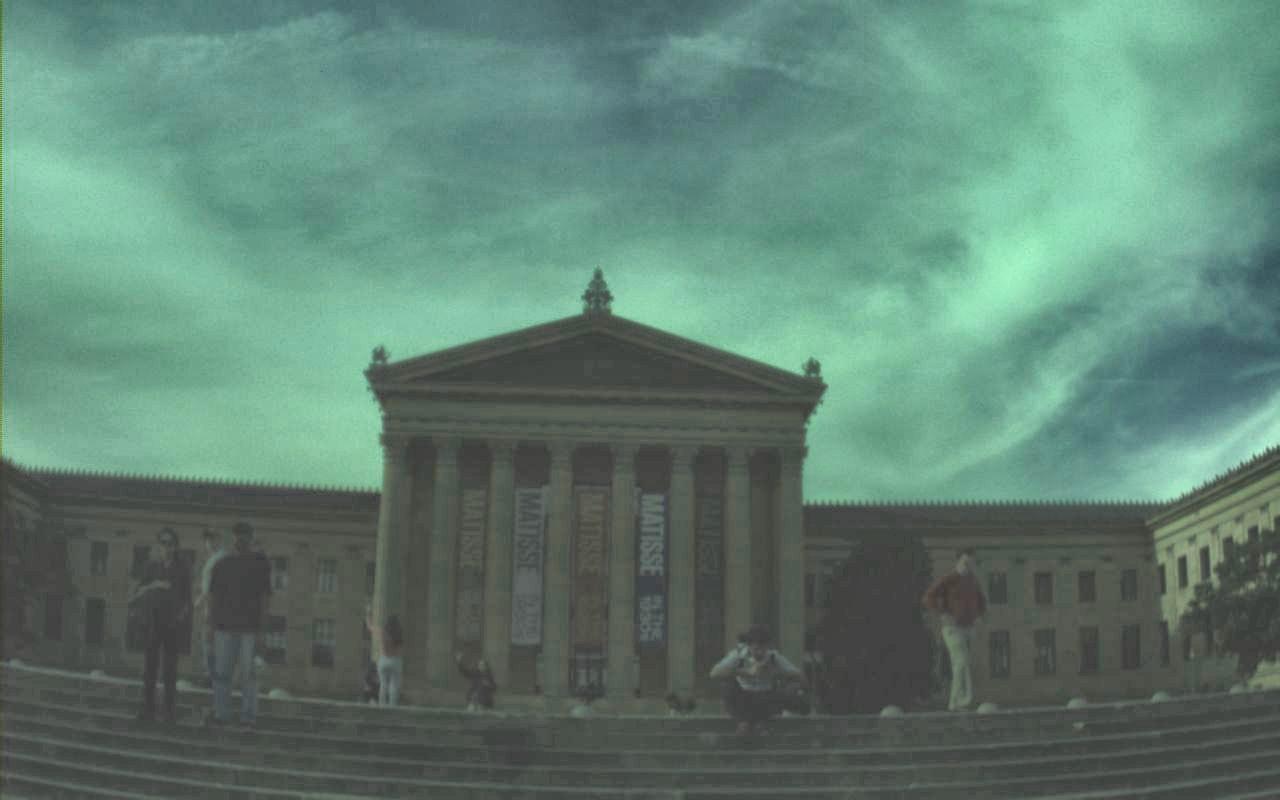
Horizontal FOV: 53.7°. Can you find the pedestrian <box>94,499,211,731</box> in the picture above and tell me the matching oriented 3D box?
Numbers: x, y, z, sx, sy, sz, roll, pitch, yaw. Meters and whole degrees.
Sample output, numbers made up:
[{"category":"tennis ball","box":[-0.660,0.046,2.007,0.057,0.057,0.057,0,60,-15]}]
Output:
[{"category":"pedestrian","box":[-4.022,1.774,9.531,0.748,1.803,0.739,0,0,-7]}]

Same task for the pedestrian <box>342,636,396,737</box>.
[{"category":"pedestrian","box":[-4.940,5.249,21.931,0.723,1.701,0.721,0,0,10]}]

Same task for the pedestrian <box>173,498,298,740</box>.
[{"category":"pedestrian","box":[-3.260,1.761,9.545,0.776,1.838,0.764,0,0,-2]}]

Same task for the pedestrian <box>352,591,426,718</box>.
[{"category":"pedestrian","box":[-3.831,3.883,18.475,0.790,1.764,0.828,0,0,-42]}]

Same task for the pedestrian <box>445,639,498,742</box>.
[{"category":"pedestrian","box":[-3.080,5.304,22.186,0.776,1.741,0.752,0,0,-20]}]

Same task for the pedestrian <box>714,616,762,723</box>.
[{"category":"pedestrian","box":[1.685,4.675,21.331,0.660,1.766,0.646,0,0,-9]}]

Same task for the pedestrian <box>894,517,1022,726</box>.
[{"category":"pedestrian","box":[3.122,2.170,11.942,0.841,1.893,0.868,0,0,-24]}]

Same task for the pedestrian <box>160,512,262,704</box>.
[{"category":"pedestrian","box":[-4.578,2.218,12.523,0.749,1.913,0.742,1,0,32]}]

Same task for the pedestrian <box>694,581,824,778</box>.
[{"category":"pedestrian","box":[0.980,2.301,10.181,0.785,1.460,0.695,0,0,-41]}]
